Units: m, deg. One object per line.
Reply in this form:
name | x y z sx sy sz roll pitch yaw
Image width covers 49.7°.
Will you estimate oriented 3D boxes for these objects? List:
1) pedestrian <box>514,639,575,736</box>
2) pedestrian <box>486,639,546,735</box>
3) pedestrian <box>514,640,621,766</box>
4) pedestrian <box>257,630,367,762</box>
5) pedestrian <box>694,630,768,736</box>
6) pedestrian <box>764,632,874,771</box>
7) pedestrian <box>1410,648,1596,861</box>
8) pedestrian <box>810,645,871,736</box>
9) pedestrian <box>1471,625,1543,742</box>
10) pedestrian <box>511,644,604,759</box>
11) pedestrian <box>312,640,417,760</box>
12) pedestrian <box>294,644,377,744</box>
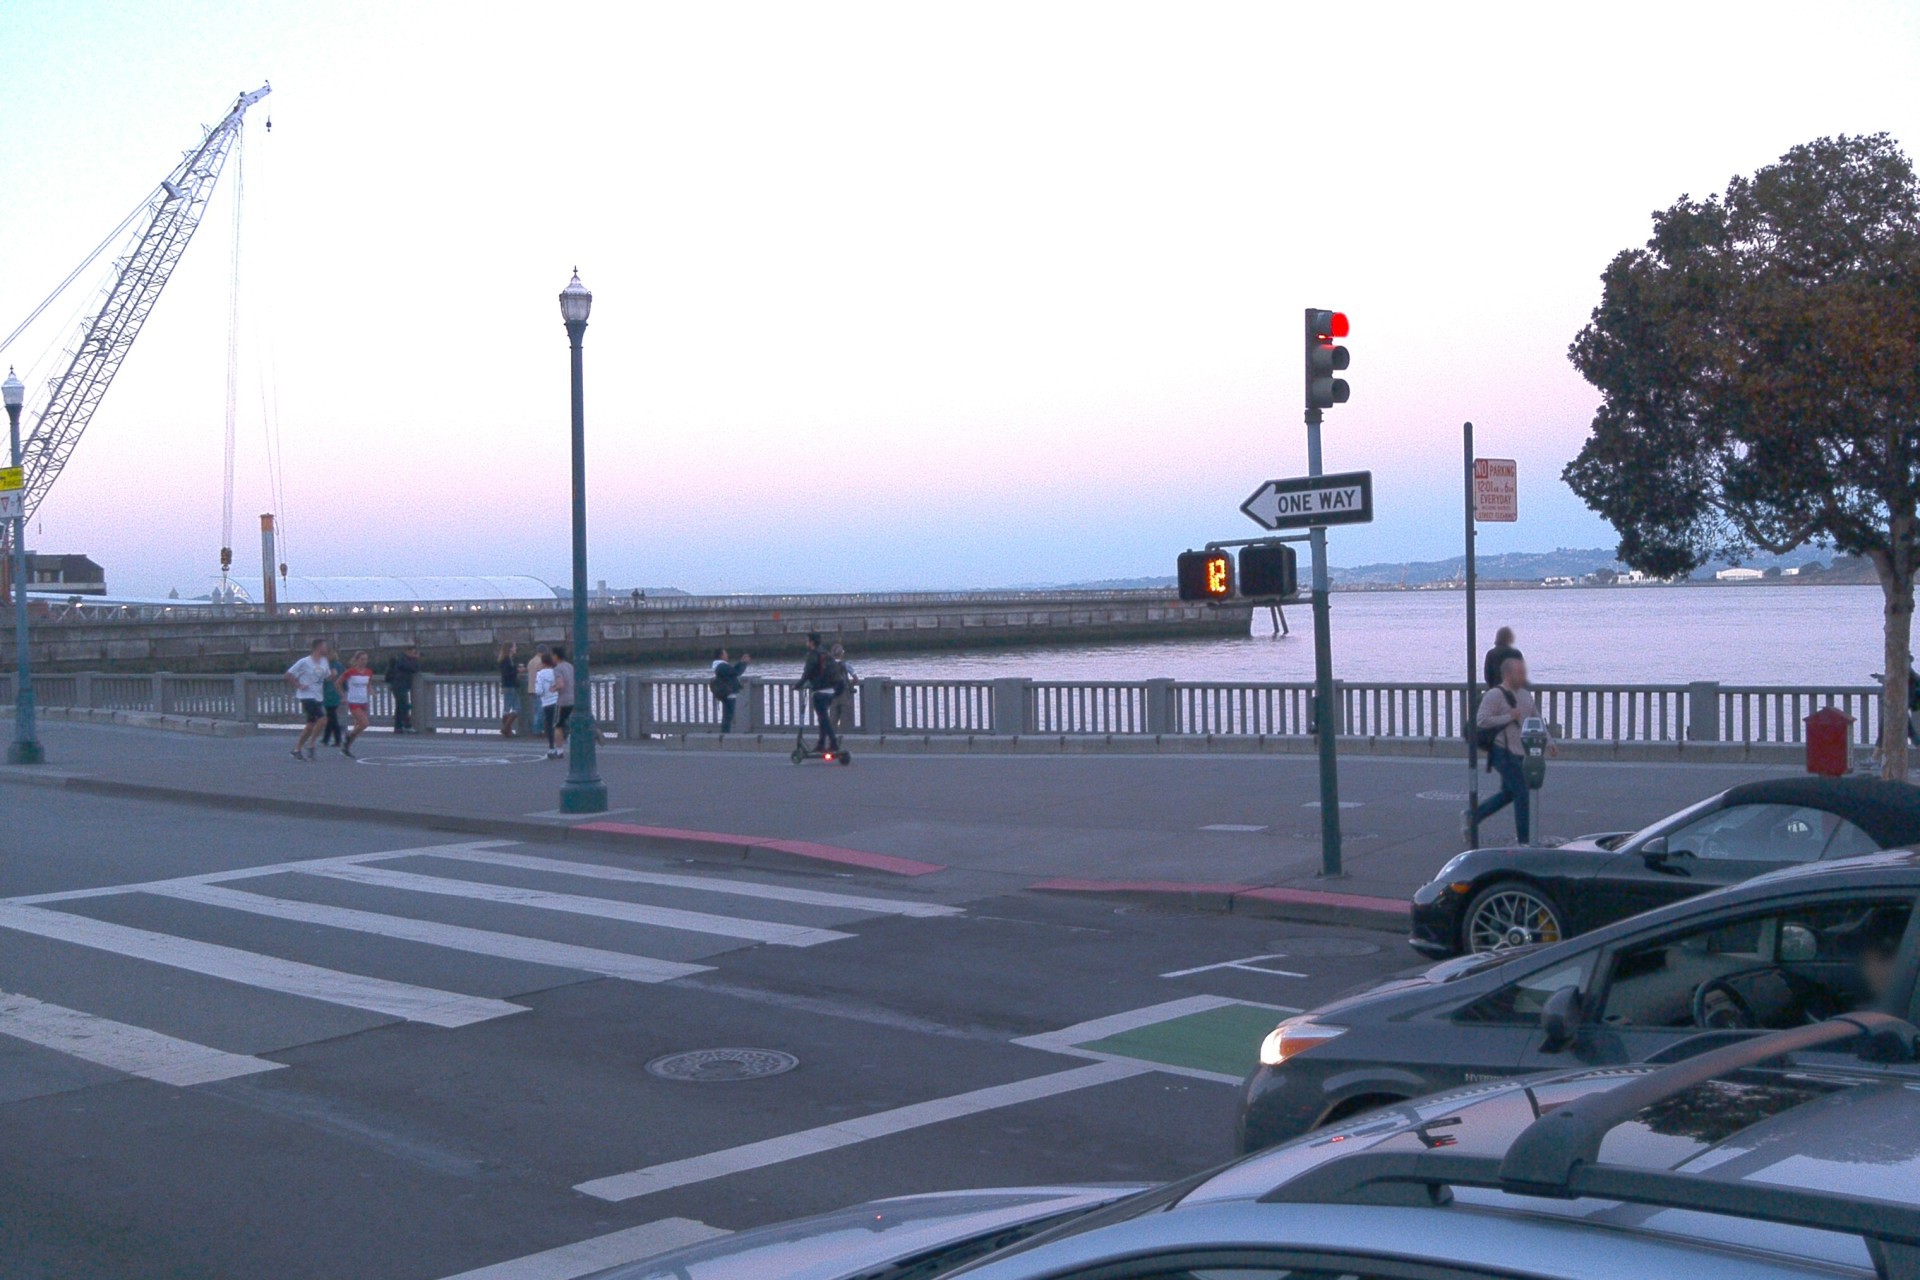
pedestrian | -7.380 0.834 36.850 0.753 1.710 0.745 0 0 33
pedestrian | -7.972 0.834 37.196 0.825 1.710 0.731 0 0 -35
pedestrian | -5.786 0.910 30.585 1.211 1.820 0.977 0 0 33
pedestrian | -9.615 0.817 30.776 1.196 1.910 1.016 0 0 32
pedestrian | -3.670 0.683 33.197 0.867 1.680 0.881 0 0 -32
pedestrian | -1.938 0.831 28.479 1.209 1.860 0.886 0 0 36
pedestrian | 4.623 0.940 17.652 1.021 1.730 1.162 0 0 -43
pedestrian | -1.878 0.790 32.748 0.791 1.400 0.928 0 0 8
pedestrian | 7.220 0.565 27.348 0.751 1.510 0.681 0 0 33
pedestrian | -6.094 0.917 31.403 1.040 1.700 0.899 0 0 33
pedestrian | -9.050 0.896 31.525 1.141 1.770 1.023 0 0 32
pedestrian | -10.634 0.904 35.314 0.989 1.680 0.931 0 0 34
